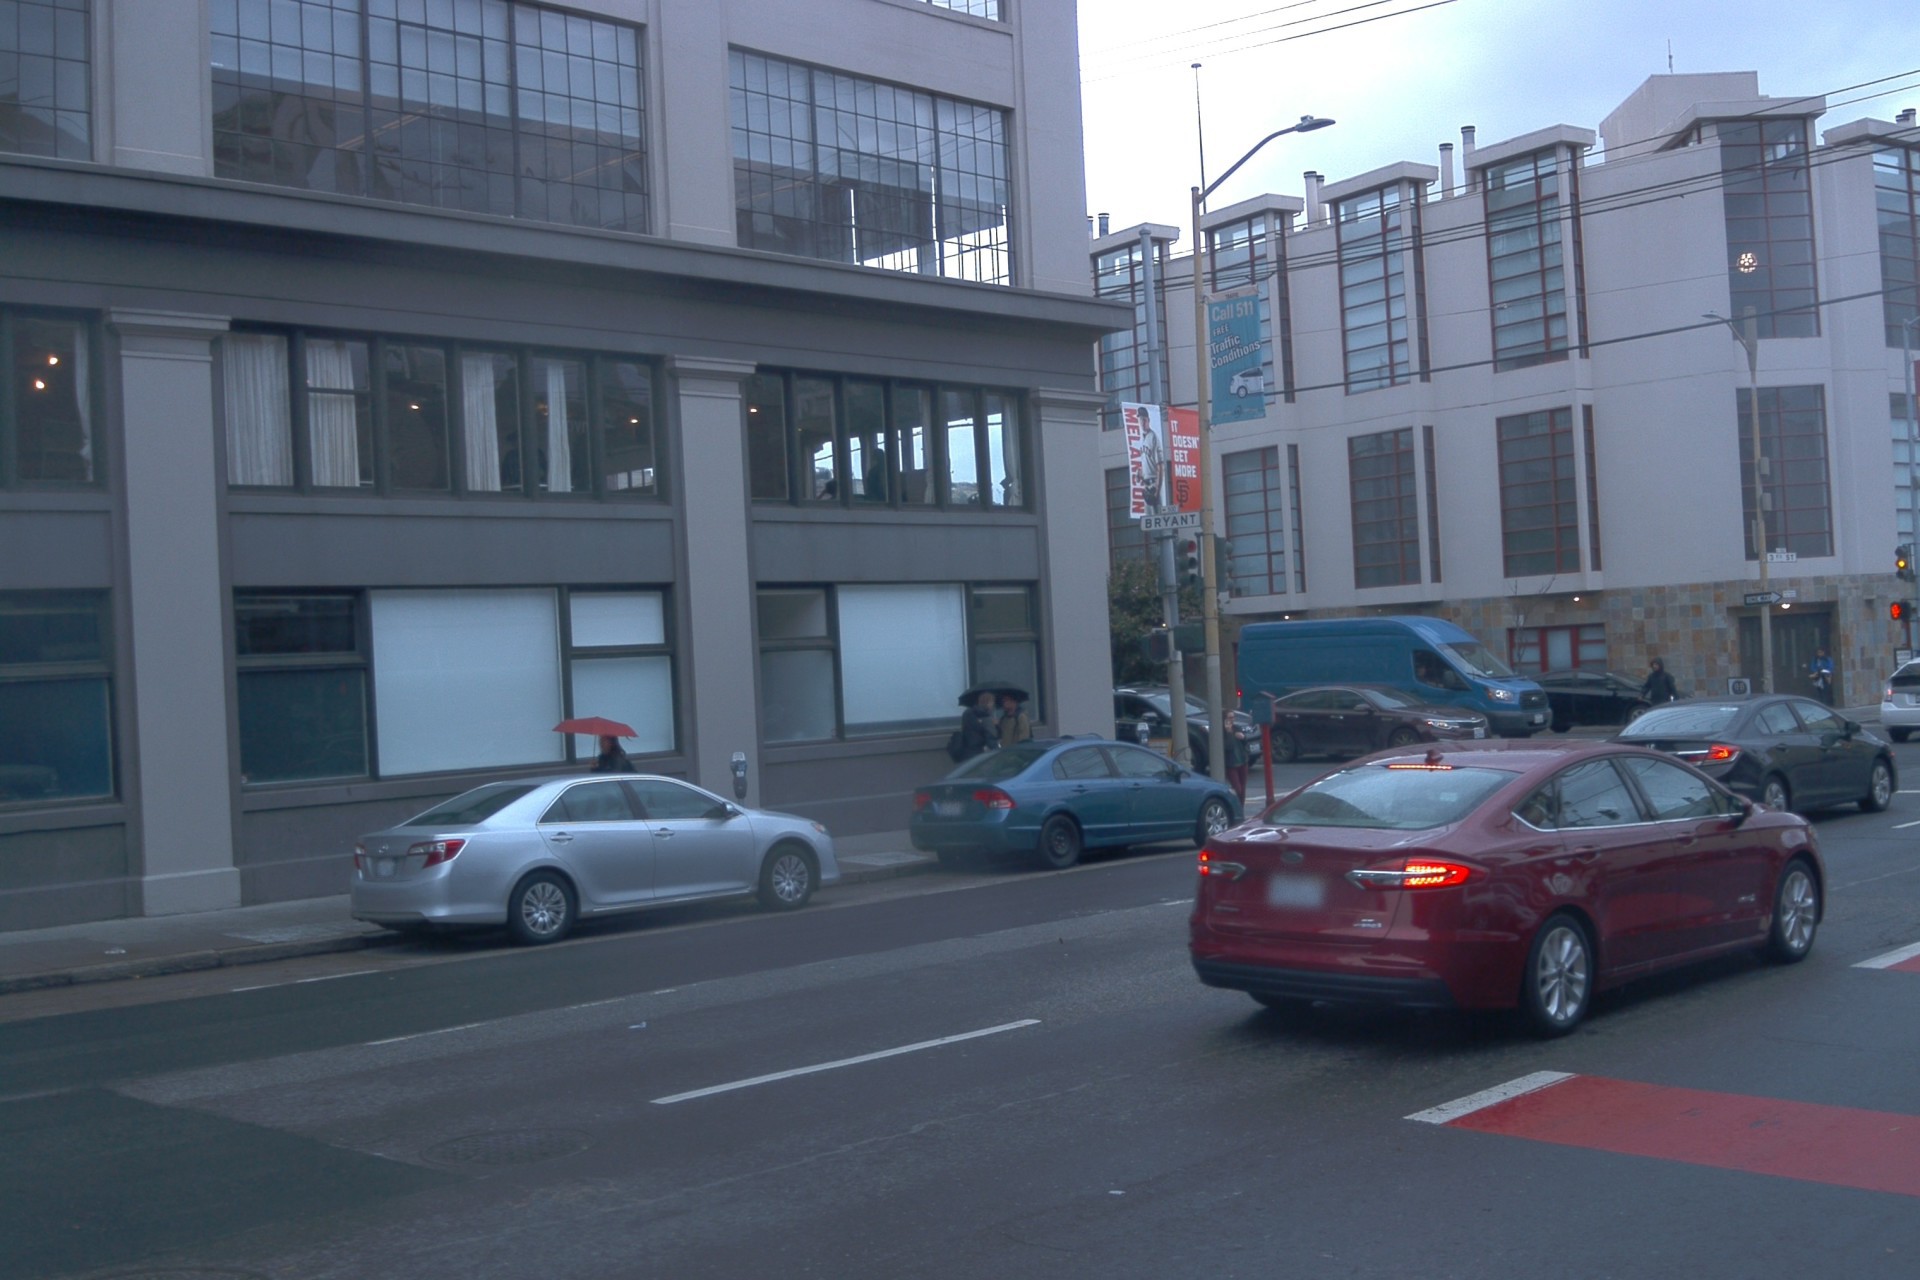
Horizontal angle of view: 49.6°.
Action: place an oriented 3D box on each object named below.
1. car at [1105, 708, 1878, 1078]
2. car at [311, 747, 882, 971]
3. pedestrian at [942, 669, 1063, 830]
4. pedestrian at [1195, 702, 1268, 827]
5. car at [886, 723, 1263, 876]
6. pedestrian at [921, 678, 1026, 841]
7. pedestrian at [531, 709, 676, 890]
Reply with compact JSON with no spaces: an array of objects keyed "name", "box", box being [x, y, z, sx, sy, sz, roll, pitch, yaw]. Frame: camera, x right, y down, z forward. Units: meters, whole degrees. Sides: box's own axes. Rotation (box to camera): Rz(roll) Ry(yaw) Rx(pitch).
[{"name":"car","box":[3.271,1.239,12.026,2.084,1.530,5.023,0,0,44]},{"name":"car","box":[-3.251,1.913,19.407,4.989,1.570,2.014,0,0,-45]},{"name":"pedestrian","box":[0.580,1.457,28.277,1.132,2.110,1.190,0,0,44]},{"name":"pedestrian","box":[3.757,1.713,28.752,0.825,1.670,0.591,0,0,-35]},{"name":"car","box":[1.409,1.771,24.178,1.913,1.440,4.430,0,0,45]},{"name":"pedestrian","box":[0.171,1.491,26.372,0.909,1.990,0.967,0,0,43]},{"name":"pedestrian","box":[-3.991,1.750,23.280,1.157,1.900,1.124,0,0,-45]}]
